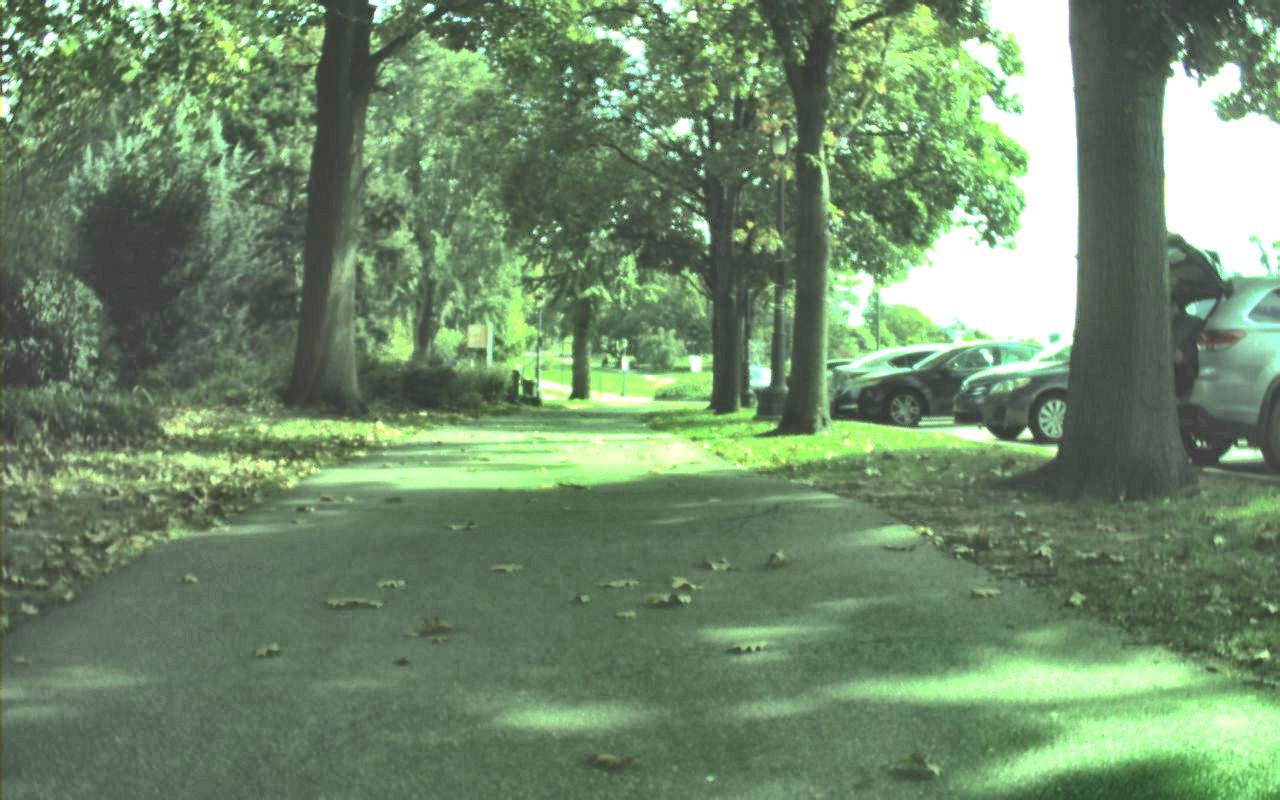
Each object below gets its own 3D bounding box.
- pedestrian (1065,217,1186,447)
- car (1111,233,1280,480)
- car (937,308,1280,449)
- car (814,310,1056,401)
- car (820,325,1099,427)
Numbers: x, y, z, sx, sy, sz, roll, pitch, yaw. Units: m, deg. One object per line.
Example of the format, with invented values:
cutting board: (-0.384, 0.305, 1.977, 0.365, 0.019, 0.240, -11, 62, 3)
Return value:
pedestrian: (4.141, -0.549, 10.202, 0.961, 1.880, 0.897, 1, 0, 13)
car: (6.454, -0.317, 9.787, 4.439, 1.882, 2.029, 1, 1, 3)
car: (6.115, -0.246, 15.247, 4.400, 1.605, 1.955, 0, 1, -7)
car: (5.733, -0.823, 24.235, 4.411, 1.680, 1.961, 0, 1, -5)
car: (5.414, -0.379, 21.045, 4.455, 1.616, 1.978, 0, 1, -4)
